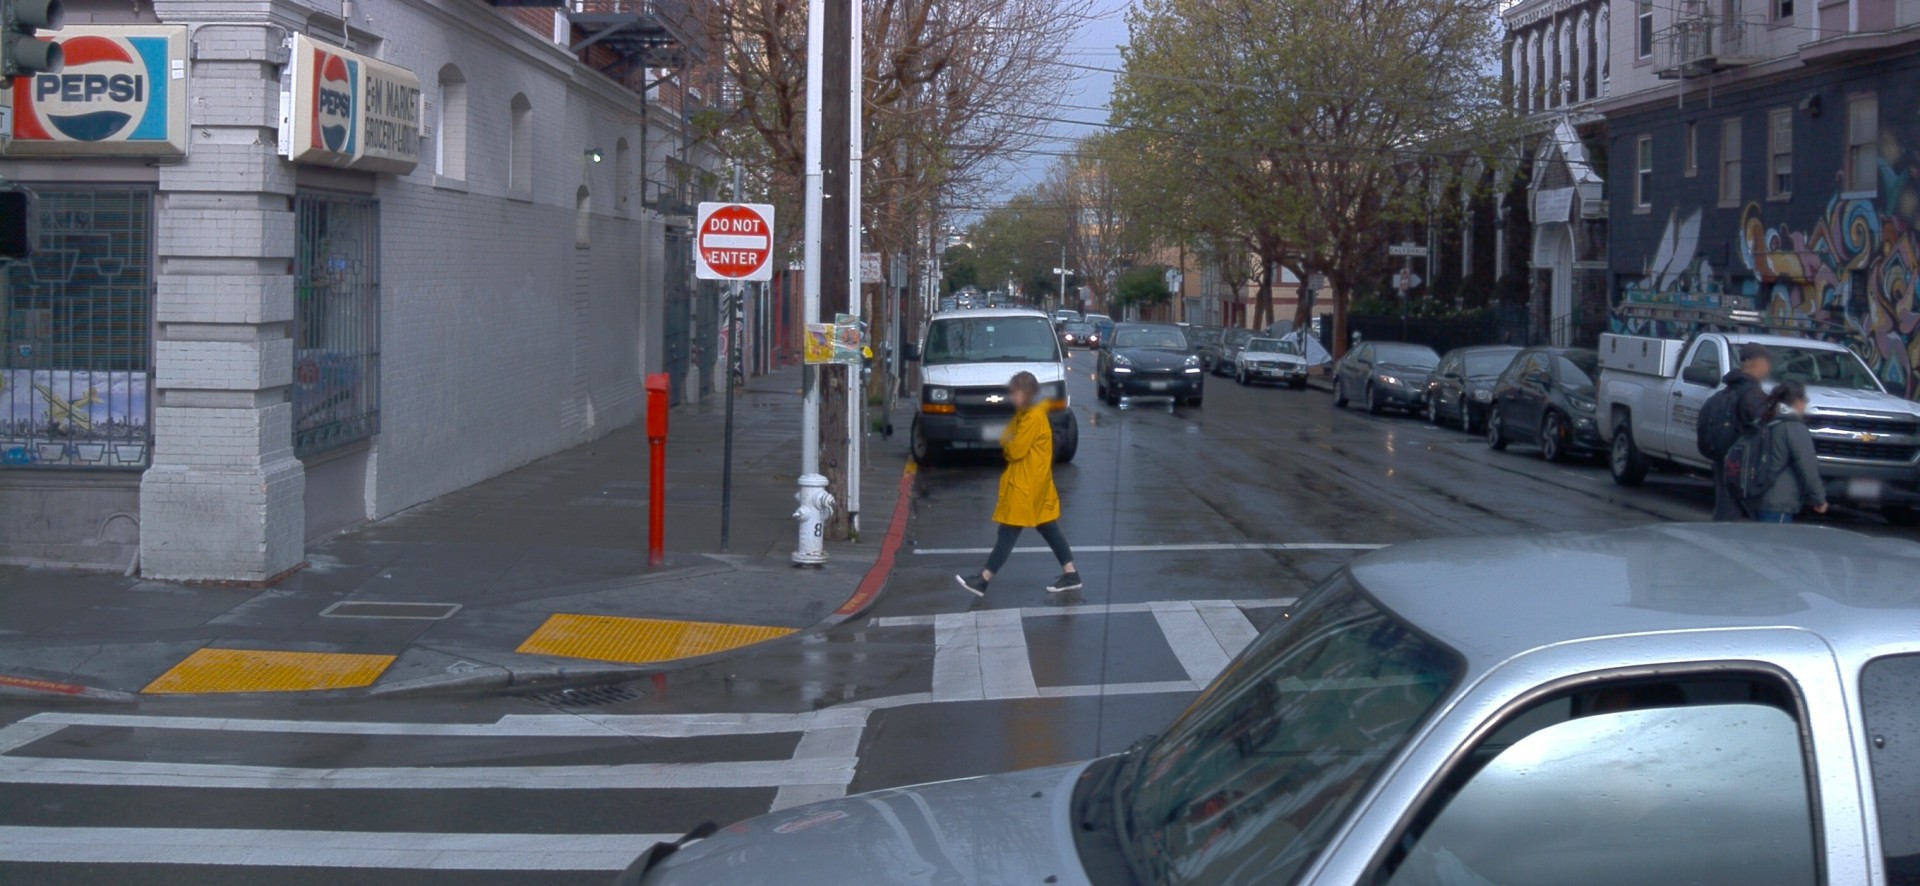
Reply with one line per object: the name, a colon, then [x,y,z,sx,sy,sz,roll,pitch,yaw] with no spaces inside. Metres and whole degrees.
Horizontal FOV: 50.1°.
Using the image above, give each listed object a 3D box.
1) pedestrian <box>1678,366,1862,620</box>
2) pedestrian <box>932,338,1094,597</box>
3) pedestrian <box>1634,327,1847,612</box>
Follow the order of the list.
pedestrian: [5.246,0.299,13.346,0.831,1.526,0.805,0,3,-5]
pedestrian: [0.370,0.150,14.820,1.043,1.746,0.762,0,2,-9]
pedestrian: [5.334,0.152,14.090,1.079,1.825,0.862,0,2,-7]
